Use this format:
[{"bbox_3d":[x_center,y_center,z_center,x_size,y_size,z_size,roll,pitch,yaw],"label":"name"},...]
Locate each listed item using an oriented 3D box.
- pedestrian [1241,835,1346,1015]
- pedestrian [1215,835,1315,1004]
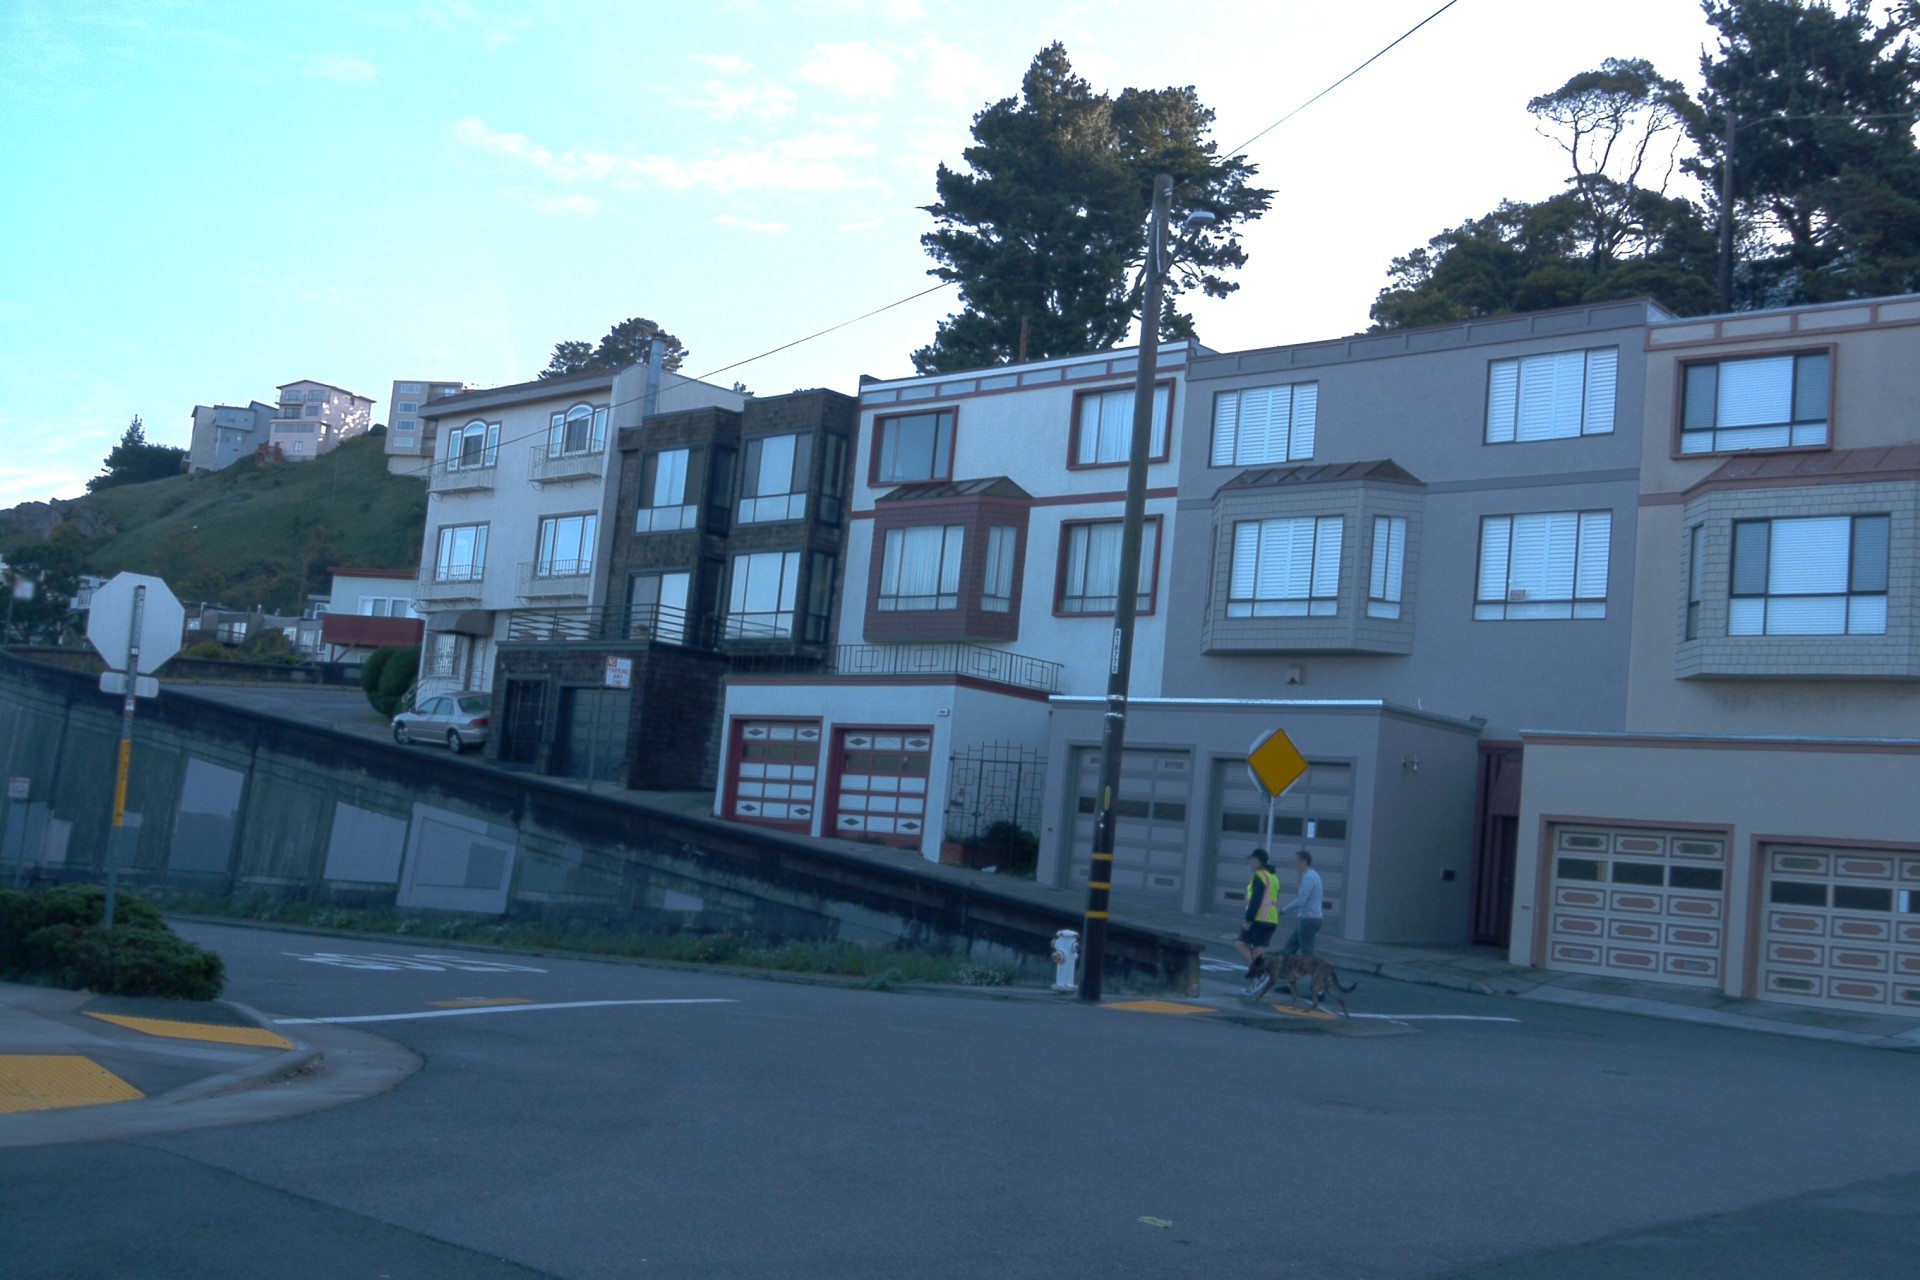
[{"bbox_3d":[4.003,3.388,24.581,1.039,1.980,0.841,1,1,25],"label":"pedestrian"},{"bbox_3d":[3.513,3.190,23.608,0.810,1.770,0.967,1,1,32],"label":"pedestrian"}]
